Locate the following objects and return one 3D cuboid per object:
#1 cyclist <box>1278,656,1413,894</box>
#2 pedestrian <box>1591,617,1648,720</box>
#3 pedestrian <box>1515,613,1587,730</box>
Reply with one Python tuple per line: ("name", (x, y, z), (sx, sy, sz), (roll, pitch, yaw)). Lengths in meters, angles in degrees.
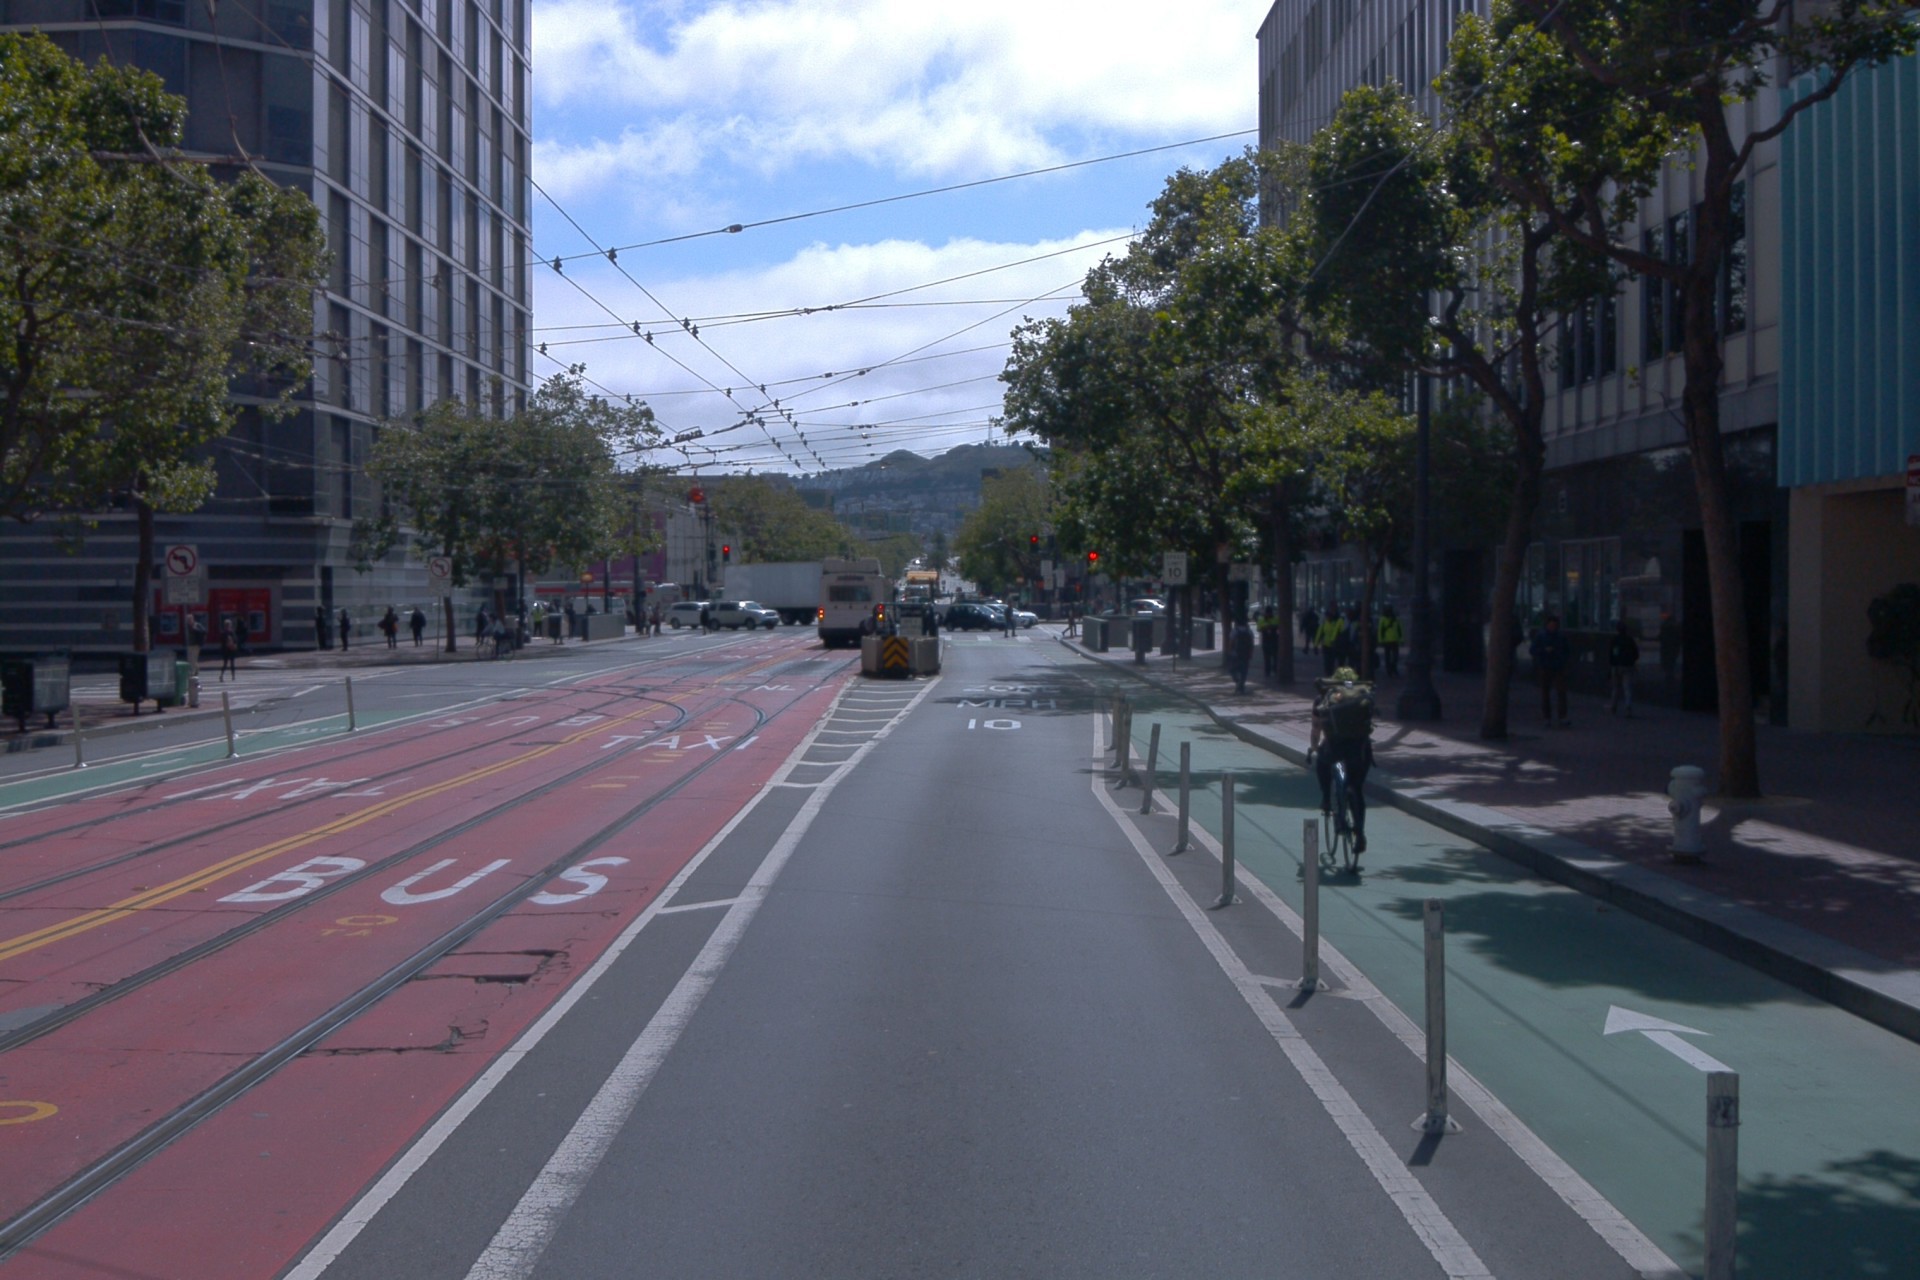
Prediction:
("cyclist", (3.064, 1.035, 16.507), (0.807, 1.770, 1.801), (0, 1, 2))
("pedestrian", (10.858, 0.458, 33.862), (0.678, 1.660, 1.043), (0, 1, 5))
("pedestrian", (9.075, 0.473, 31.619), (0.810, 1.770, 1.171), (0, 1, 3))
